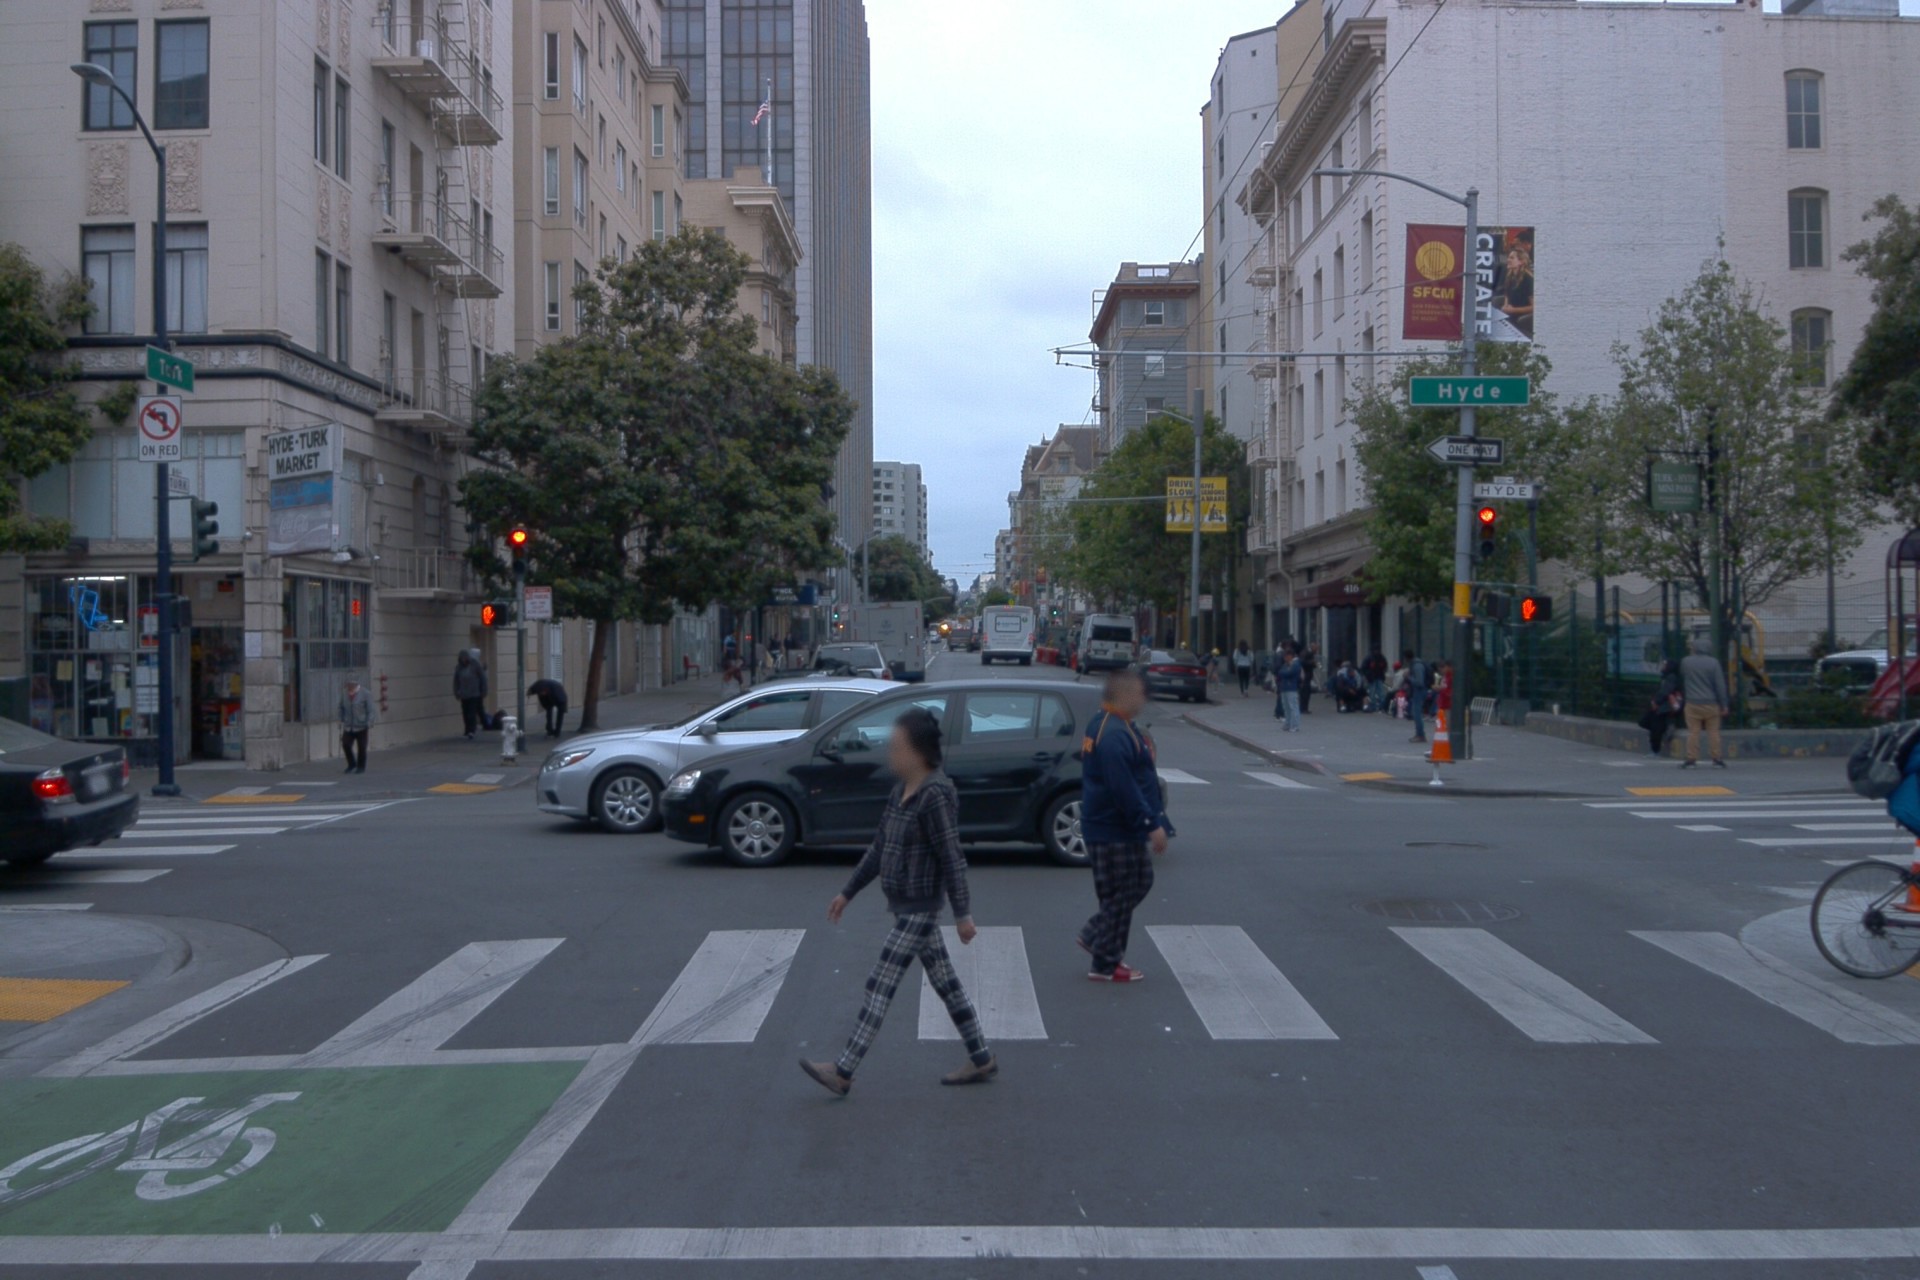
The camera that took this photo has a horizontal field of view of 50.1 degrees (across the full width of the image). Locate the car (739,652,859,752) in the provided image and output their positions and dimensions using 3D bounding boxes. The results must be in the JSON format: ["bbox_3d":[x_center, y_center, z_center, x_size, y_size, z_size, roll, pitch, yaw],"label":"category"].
[{"bbox_3d":[-2.859,1.086,37.320,1.721,1.630,3.892,0,1,2],"label":"car"}]

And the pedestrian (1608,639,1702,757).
[{"bbox_3d":[10.486,0.854,31.054,0.944,1.720,0.964,-1,1,-22],"label":"pedestrian"}]

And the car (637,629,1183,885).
[{"bbox_3d":[-0.376,0.902,16.830,4.214,1.950,1.862,0,1,1],"label":"car"}]

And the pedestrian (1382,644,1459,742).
[{"bbox_3d":[8.275,0.938,36.976,0.930,1.710,1.049,-1,1,-20],"label":"pedestrian"}]

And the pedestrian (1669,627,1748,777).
[{"bbox_3d":[10.329,0.834,28.368,0.836,2.010,0.795,0,1,36],"label":"pedestrian"}]

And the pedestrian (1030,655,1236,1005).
[{"bbox_3d":[0.914,0.992,11.144,1.035,1.800,0.907,0,1,0],"label":"pedestrian"}]

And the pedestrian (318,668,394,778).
[{"bbox_3d":[-9.124,1.241,31.094,0.870,1.620,0.823,0,1,3],"label":"pedestrian"}]

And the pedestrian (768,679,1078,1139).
[{"bbox_3d":[-0.180,1.068,8.671,1.092,1.760,0.989,-1,1,-15],"label":"pedestrian"}]

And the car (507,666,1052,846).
[{"bbox_3d":[-1.635,1.067,19.671,4.932,1.550,2.047,0,1,1],"label":"car"}]

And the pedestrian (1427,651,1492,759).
[{"bbox_3d":[7.730,0.993,31.853,0.906,1.620,0.868,0,1,9],"label":"pedestrian"}]
